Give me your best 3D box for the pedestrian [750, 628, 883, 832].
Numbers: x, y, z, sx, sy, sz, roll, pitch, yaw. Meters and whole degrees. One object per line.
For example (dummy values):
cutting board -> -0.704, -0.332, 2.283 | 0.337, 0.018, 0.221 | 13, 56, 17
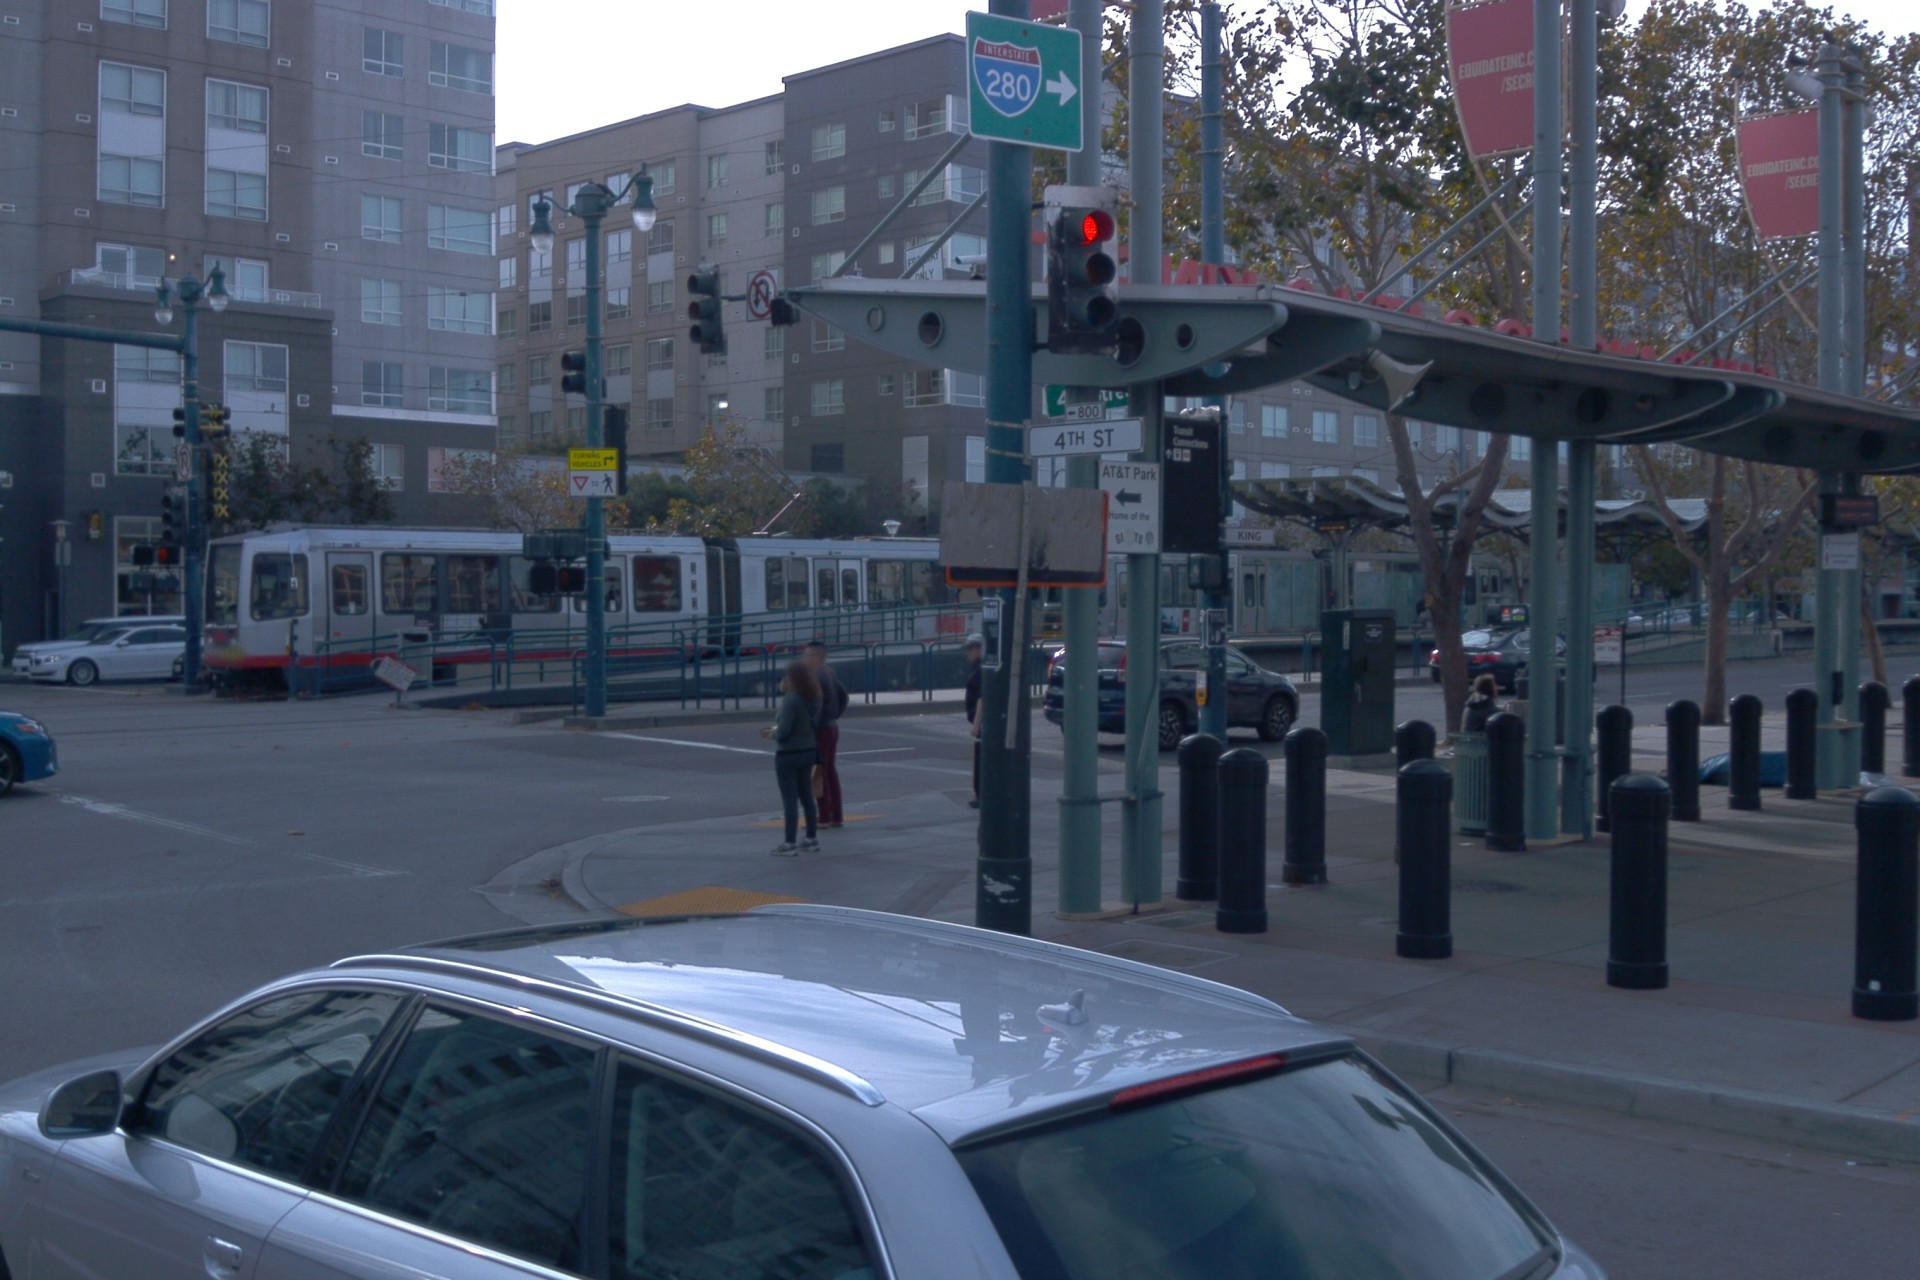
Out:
pedestrian -> -1.310, 0.807, 19.071 | 0.980, 1.819, 0.928 | 1, 0, 12

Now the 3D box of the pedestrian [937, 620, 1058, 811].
pedestrian -> 0.381, 0.741, 20.824 | 0.867, 1.858, 0.865 | 1, 0, 31

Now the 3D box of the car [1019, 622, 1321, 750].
car -> 3.237, 0.669, 31.335 | 4.602, 1.792, 2.059 | 1, 0, -45

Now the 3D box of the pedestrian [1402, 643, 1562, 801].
pedestrian -> 5.557, 0.845, 22.056 | 1.168, 1.605, 1.218 | 1, 0, 45

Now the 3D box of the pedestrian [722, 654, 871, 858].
pedestrian -> -1.370, 0.945, 17.342 | 1.016, 1.642, 0.678 | 1, 0, 35
